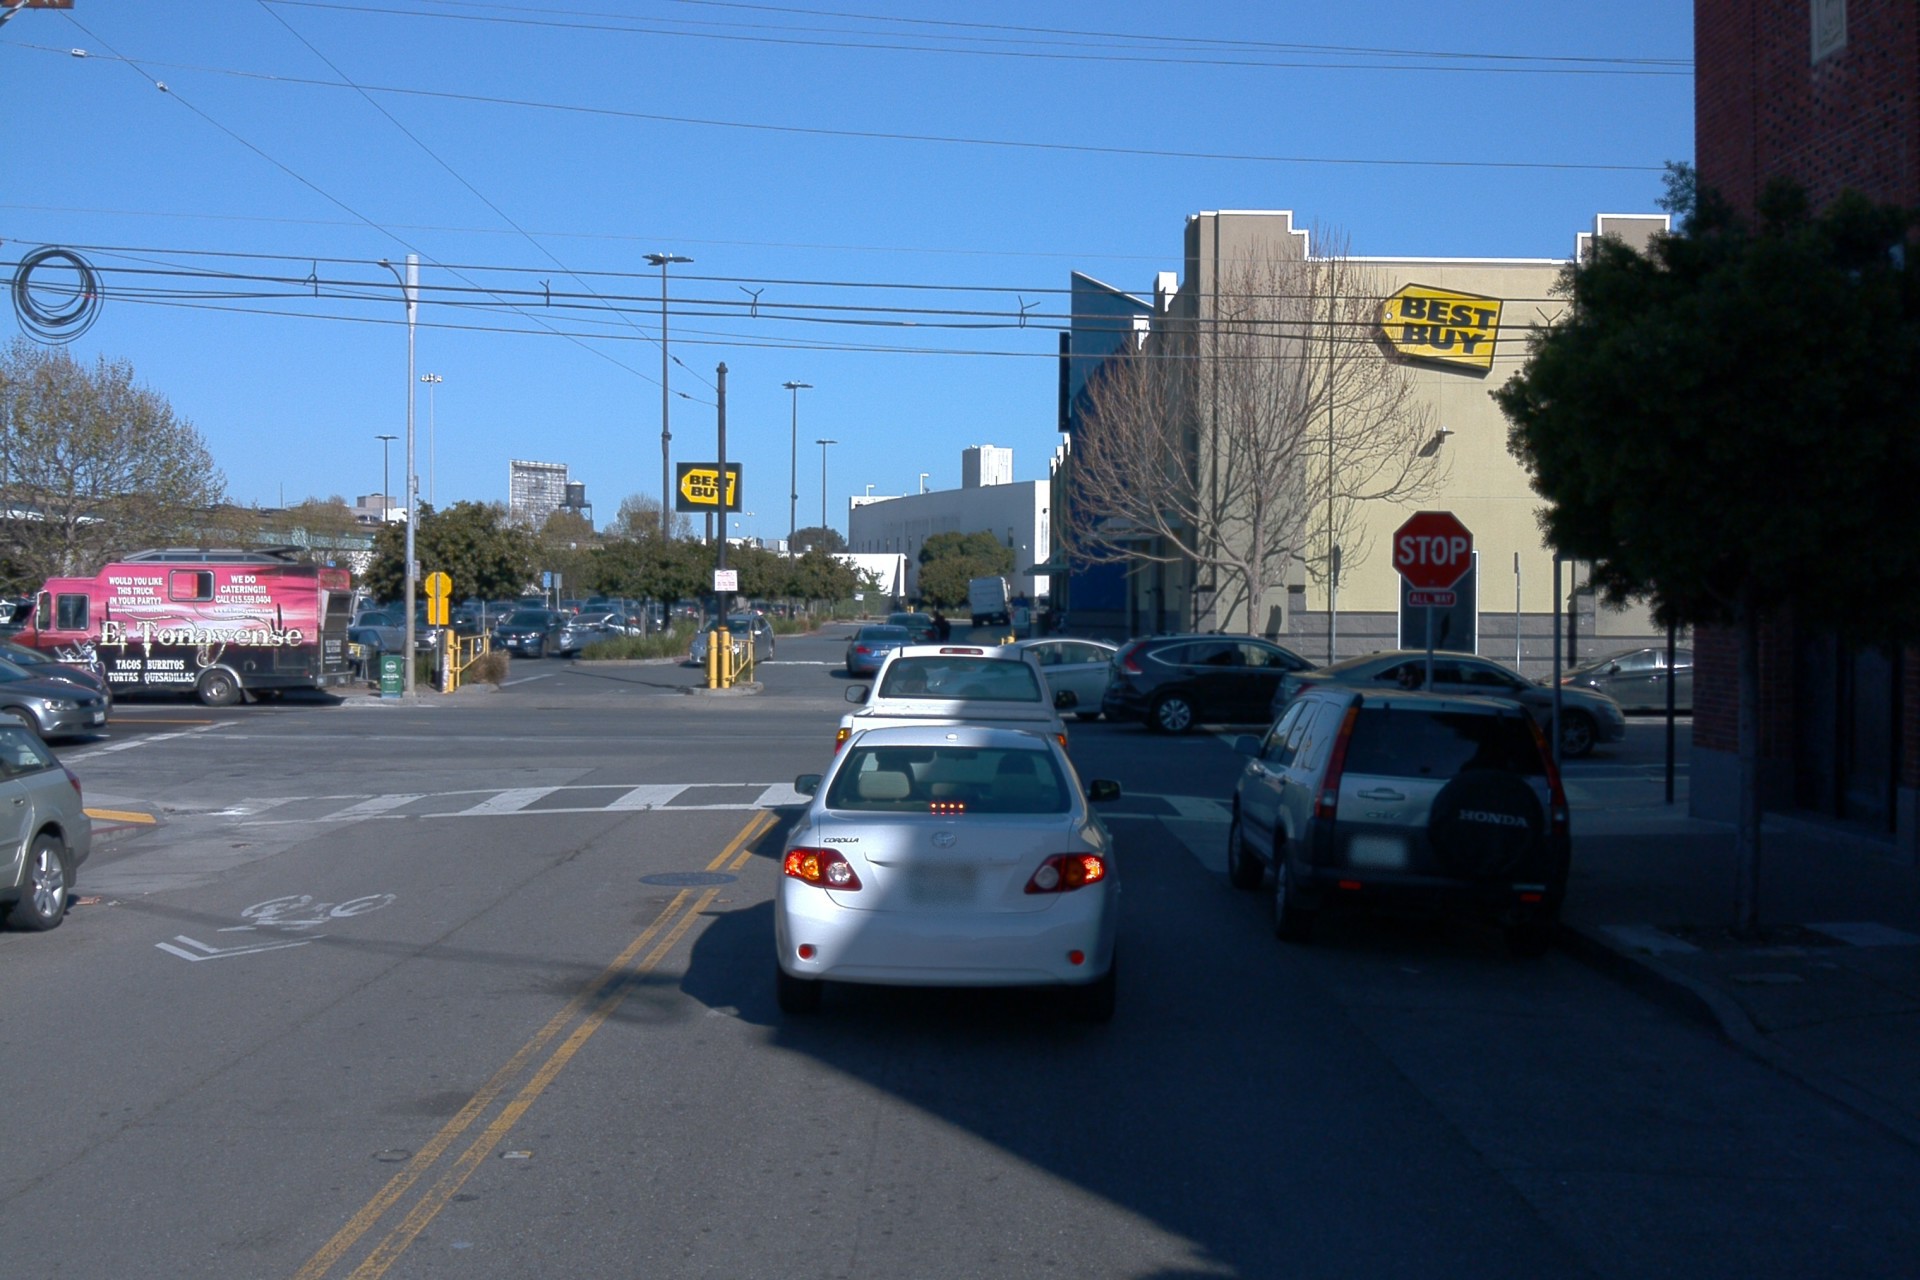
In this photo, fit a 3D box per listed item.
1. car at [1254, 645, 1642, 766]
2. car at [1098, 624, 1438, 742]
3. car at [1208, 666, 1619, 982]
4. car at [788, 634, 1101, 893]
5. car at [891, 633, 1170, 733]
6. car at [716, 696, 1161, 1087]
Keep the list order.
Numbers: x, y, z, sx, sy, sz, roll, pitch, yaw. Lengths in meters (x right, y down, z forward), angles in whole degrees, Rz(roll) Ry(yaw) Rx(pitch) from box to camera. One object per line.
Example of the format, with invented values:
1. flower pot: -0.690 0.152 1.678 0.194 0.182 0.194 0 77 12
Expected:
1. car: 7.102 0.936 30.327 5.171 1.600 2.059 1 1 -2
2. car: 4.969 0.680 33.677 5.153 1.790 2.032 1 1 -3
3. car: 2.972 1.129 14.456 2.017 1.730 4.284 1 1 2
4. car: -0.023 0.942 18.641 2.386 1.880 5.557 1 1 2
5. car: 1.227 0.729 36.009 4.375 1.630 2.088 1 1 -24
6. car: -0.040 1.231 11.824 2.045 1.580 4.504 1 1 2
